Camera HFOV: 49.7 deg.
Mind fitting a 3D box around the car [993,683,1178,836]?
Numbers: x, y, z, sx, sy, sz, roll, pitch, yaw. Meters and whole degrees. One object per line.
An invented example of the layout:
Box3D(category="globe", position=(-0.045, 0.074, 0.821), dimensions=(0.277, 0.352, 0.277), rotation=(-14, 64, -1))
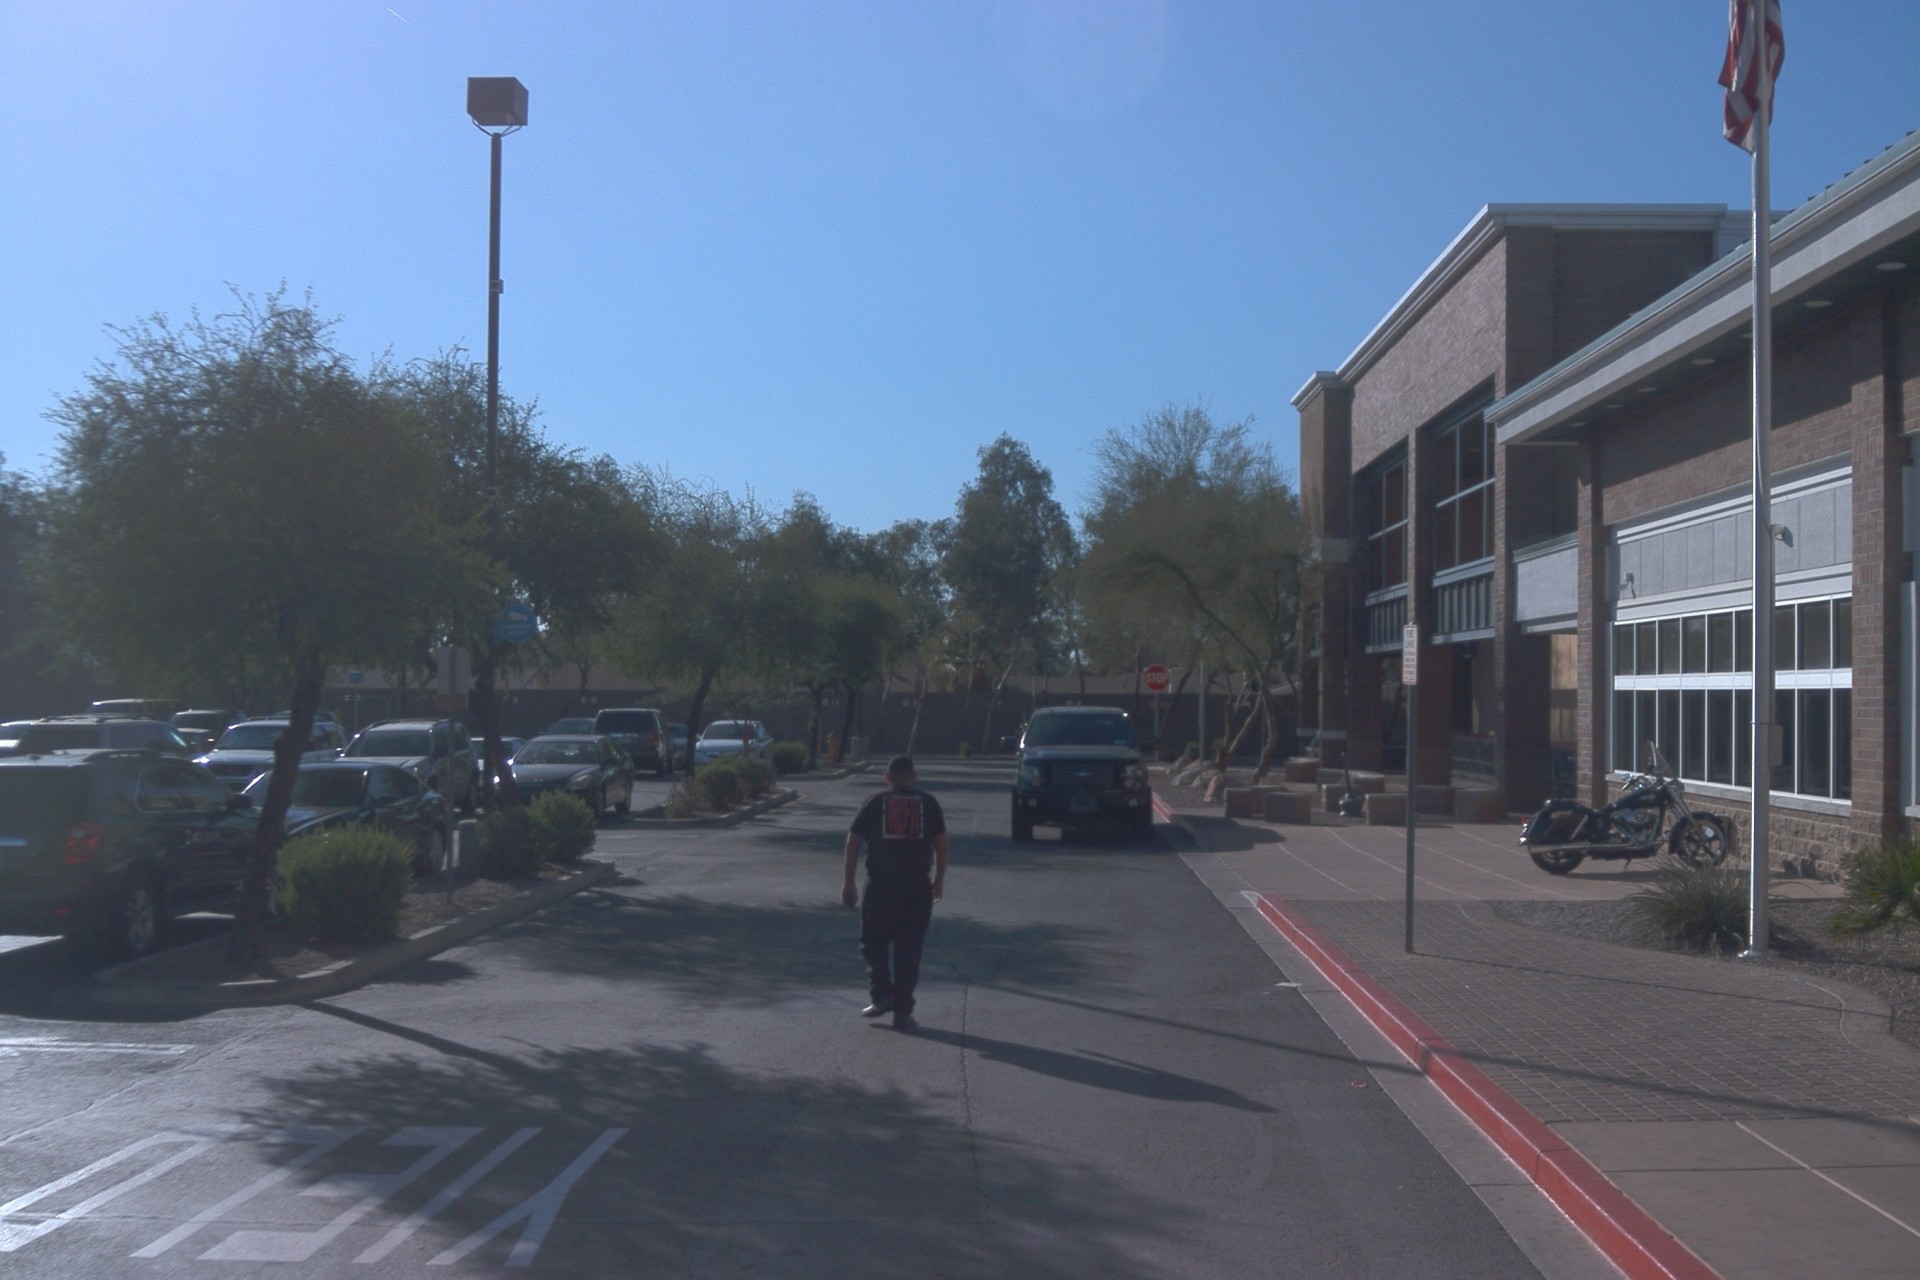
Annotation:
Box3D(category="car", position=(1.946, 1.799, 32.842), dimensions=(2.655, 2.190, 5.664), rotation=(-1, -1, 3))

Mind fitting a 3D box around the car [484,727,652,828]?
Box3D(category="car", position=(-6.809, 2.360, 36.536), dimensions=(1.931, 1.560, 4.779), rotation=(-1, -1, 2))

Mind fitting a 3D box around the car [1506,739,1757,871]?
Box3D(category="car", position=(7.570, 1.856, 23.503), dimensions=(2.509, 1.430, 1.043), rotation=(-1, -1, 5))

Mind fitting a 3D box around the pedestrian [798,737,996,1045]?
Box3D(category="pedestrian", position=(-0.436, 1.592, 13.586), dimensions=(1.074, 1.870, 1.186), rotation=(0, -1, -13))

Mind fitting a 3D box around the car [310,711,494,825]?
Box3D(category="car", position=(-9.739, 2.198, 36.573), dimensions=(1.886, 1.820, 4.571), rotation=(-1, -1, 2))
